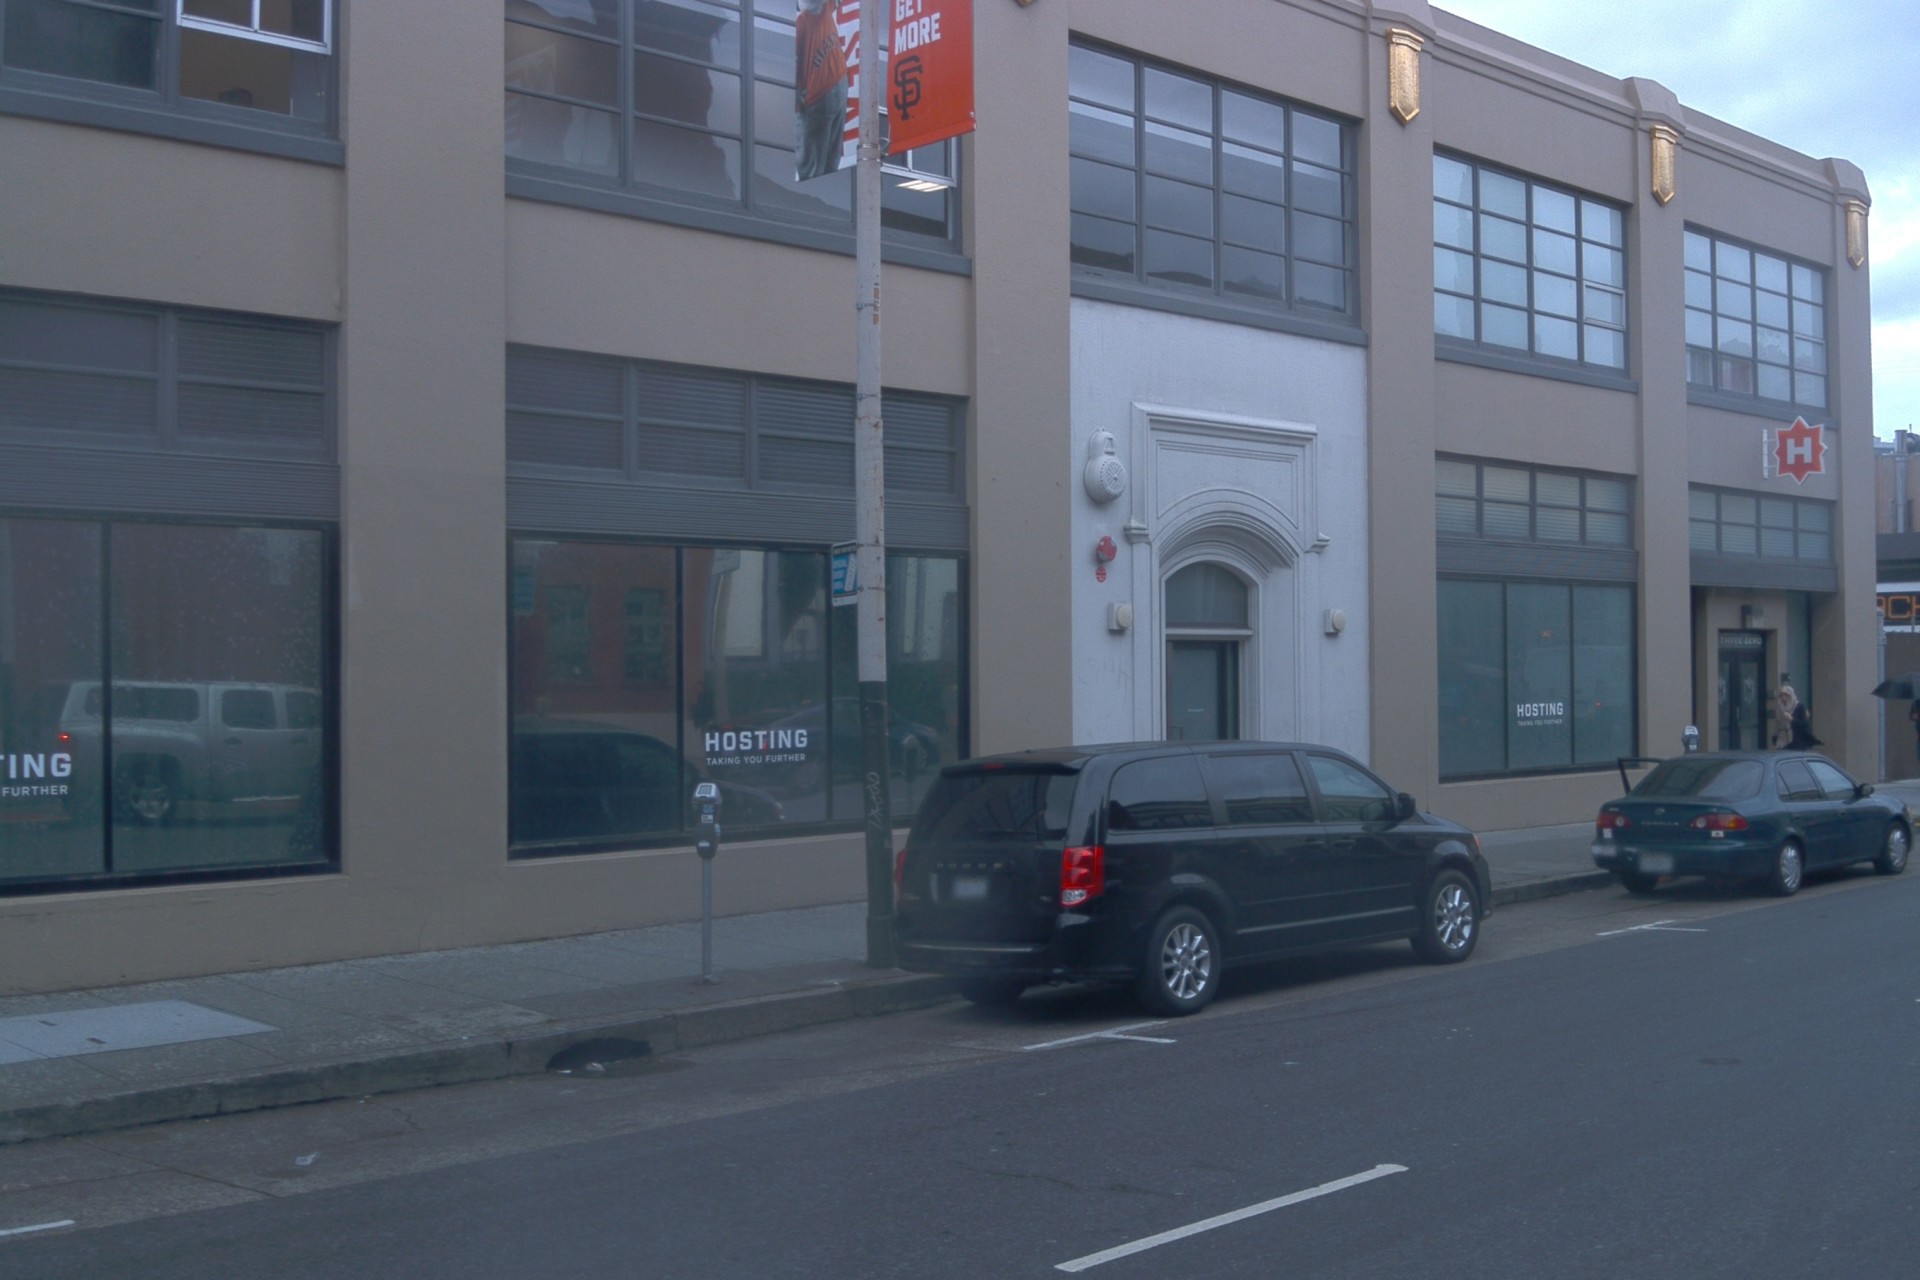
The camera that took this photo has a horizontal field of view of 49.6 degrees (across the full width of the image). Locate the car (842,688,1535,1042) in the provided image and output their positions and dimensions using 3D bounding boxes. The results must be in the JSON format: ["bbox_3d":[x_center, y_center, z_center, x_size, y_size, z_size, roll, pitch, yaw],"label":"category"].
[{"bbox_3d":[1.790,1.376,14.719,5.129,1.960,2.084,0,0,-44],"label":"car"}]

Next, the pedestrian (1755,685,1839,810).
[{"bbox_3d":[12.034,1.532,29.899,0.852,1.740,0.841,0,0,-44],"label":"pedestrian"}]
